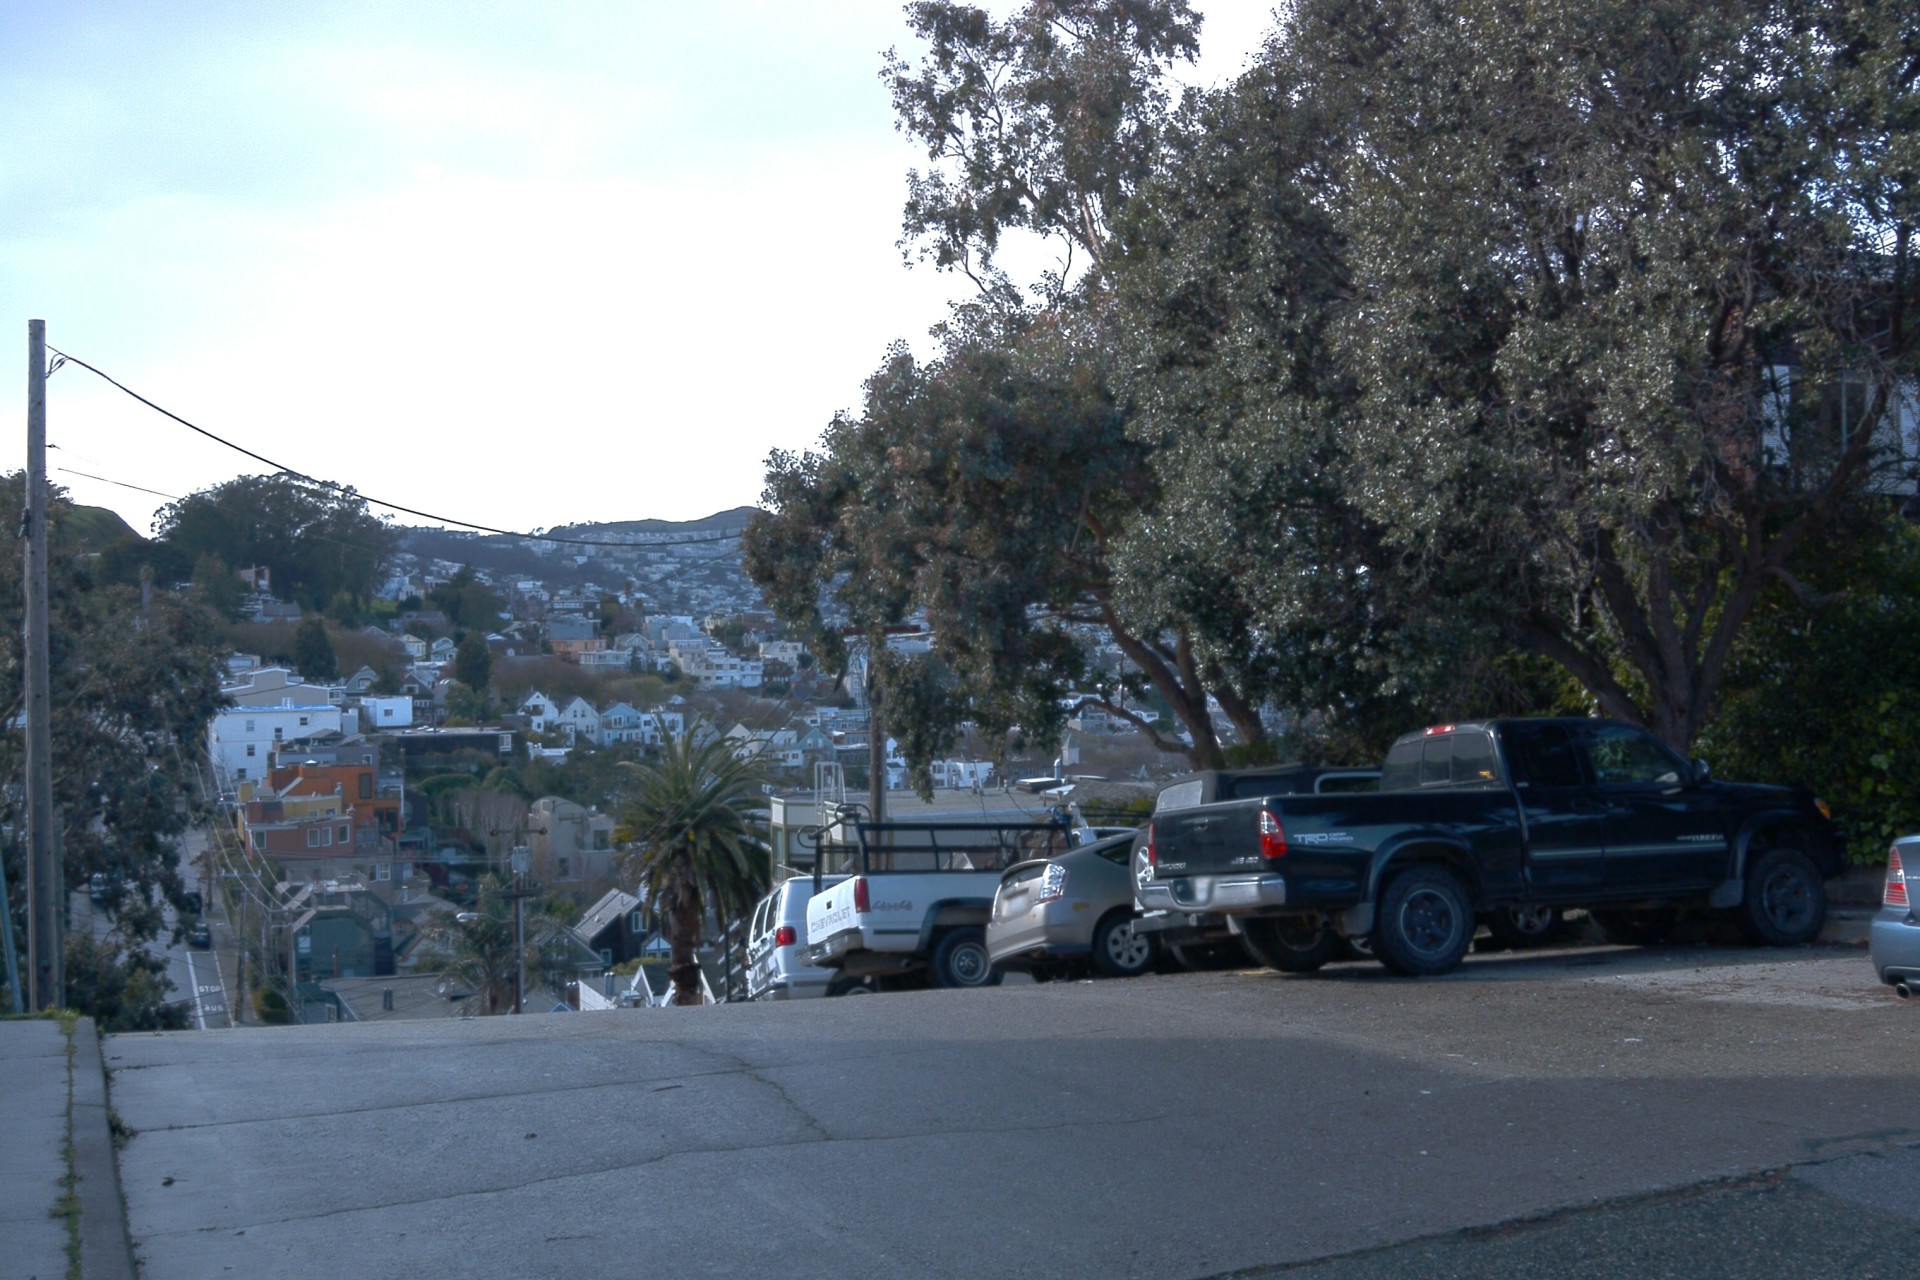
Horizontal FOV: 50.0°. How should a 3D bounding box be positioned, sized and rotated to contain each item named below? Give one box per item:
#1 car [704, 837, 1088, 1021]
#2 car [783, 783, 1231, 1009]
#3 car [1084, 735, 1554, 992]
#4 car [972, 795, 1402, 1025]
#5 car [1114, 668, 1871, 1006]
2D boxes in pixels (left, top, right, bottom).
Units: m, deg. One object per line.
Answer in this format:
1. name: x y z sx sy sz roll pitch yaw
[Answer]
1. car: -0.839 3.589 26.101 4.364 1.810 2.218 0 1 -22
2. car: 0.483 2.693 22.444 4.326 1.990 2.276 0 1 -22
3. car: 3.242 1.935 18.668 3.836 2.000 1.721 0 1 -20
4. car: 2.231 2.587 20.332 3.841 1.880 1.736 0 1 -20
5. car: 4.098 1.344 15.757 5.449 2.190 2.074 0 1 -23
